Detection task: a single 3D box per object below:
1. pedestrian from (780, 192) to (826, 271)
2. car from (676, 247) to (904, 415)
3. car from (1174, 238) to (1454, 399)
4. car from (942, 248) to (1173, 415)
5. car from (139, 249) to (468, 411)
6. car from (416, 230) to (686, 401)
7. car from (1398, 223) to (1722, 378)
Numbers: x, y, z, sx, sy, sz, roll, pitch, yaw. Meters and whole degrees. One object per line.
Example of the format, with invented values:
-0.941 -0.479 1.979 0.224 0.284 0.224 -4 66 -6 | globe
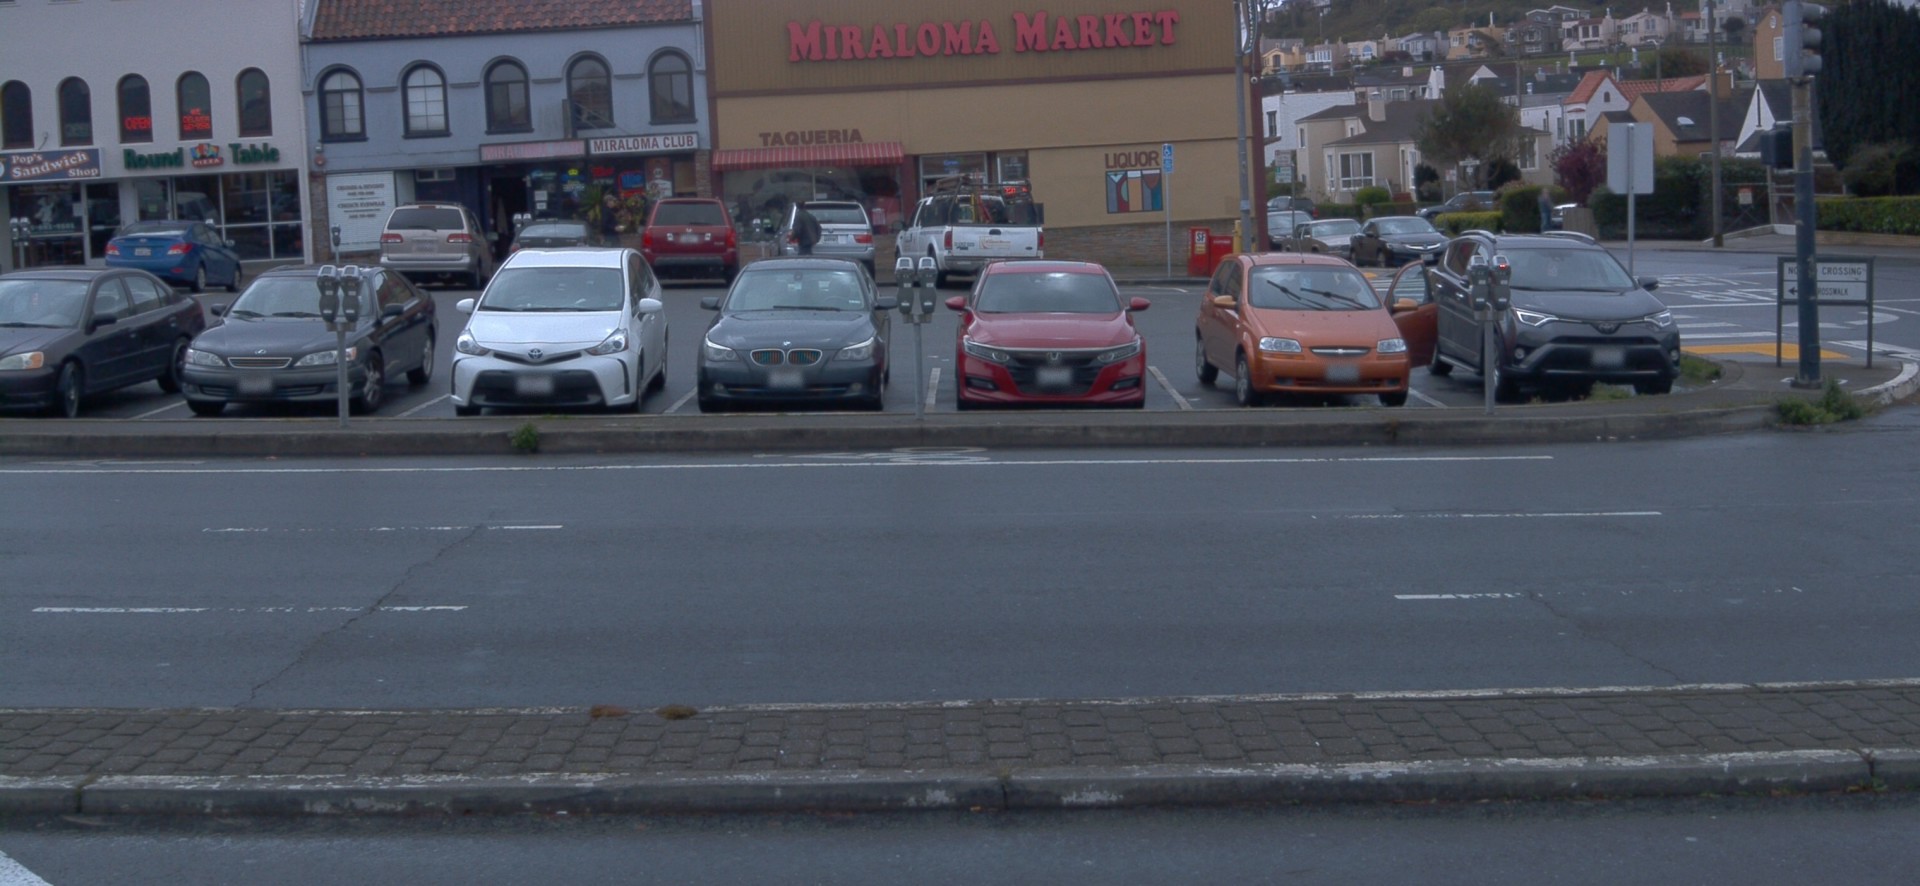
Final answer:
-2.944 -3.971 38.703 0.724 1.457 0.703 -1 2 -17 | pedestrian
-1.657 -1.269 21.658 2.112 1.461 4.574 0 6 -1 | car
3.611 -1.398 21.805 2.049 1.462 4.037 0 6 -4 | car
0.907 -1.276 21.830 2.185 1.461 4.636 0 6 -1 | car
-6.718 -1.283 21.703 2.023 1.392 4.712 0 6 -1 | car
-4.069 -1.417 21.329 2.132 1.491 4.678 0 6 -4 | car
6.389 -1.644 22.574 2.205 1.461 4.580 0 6 0 | car
